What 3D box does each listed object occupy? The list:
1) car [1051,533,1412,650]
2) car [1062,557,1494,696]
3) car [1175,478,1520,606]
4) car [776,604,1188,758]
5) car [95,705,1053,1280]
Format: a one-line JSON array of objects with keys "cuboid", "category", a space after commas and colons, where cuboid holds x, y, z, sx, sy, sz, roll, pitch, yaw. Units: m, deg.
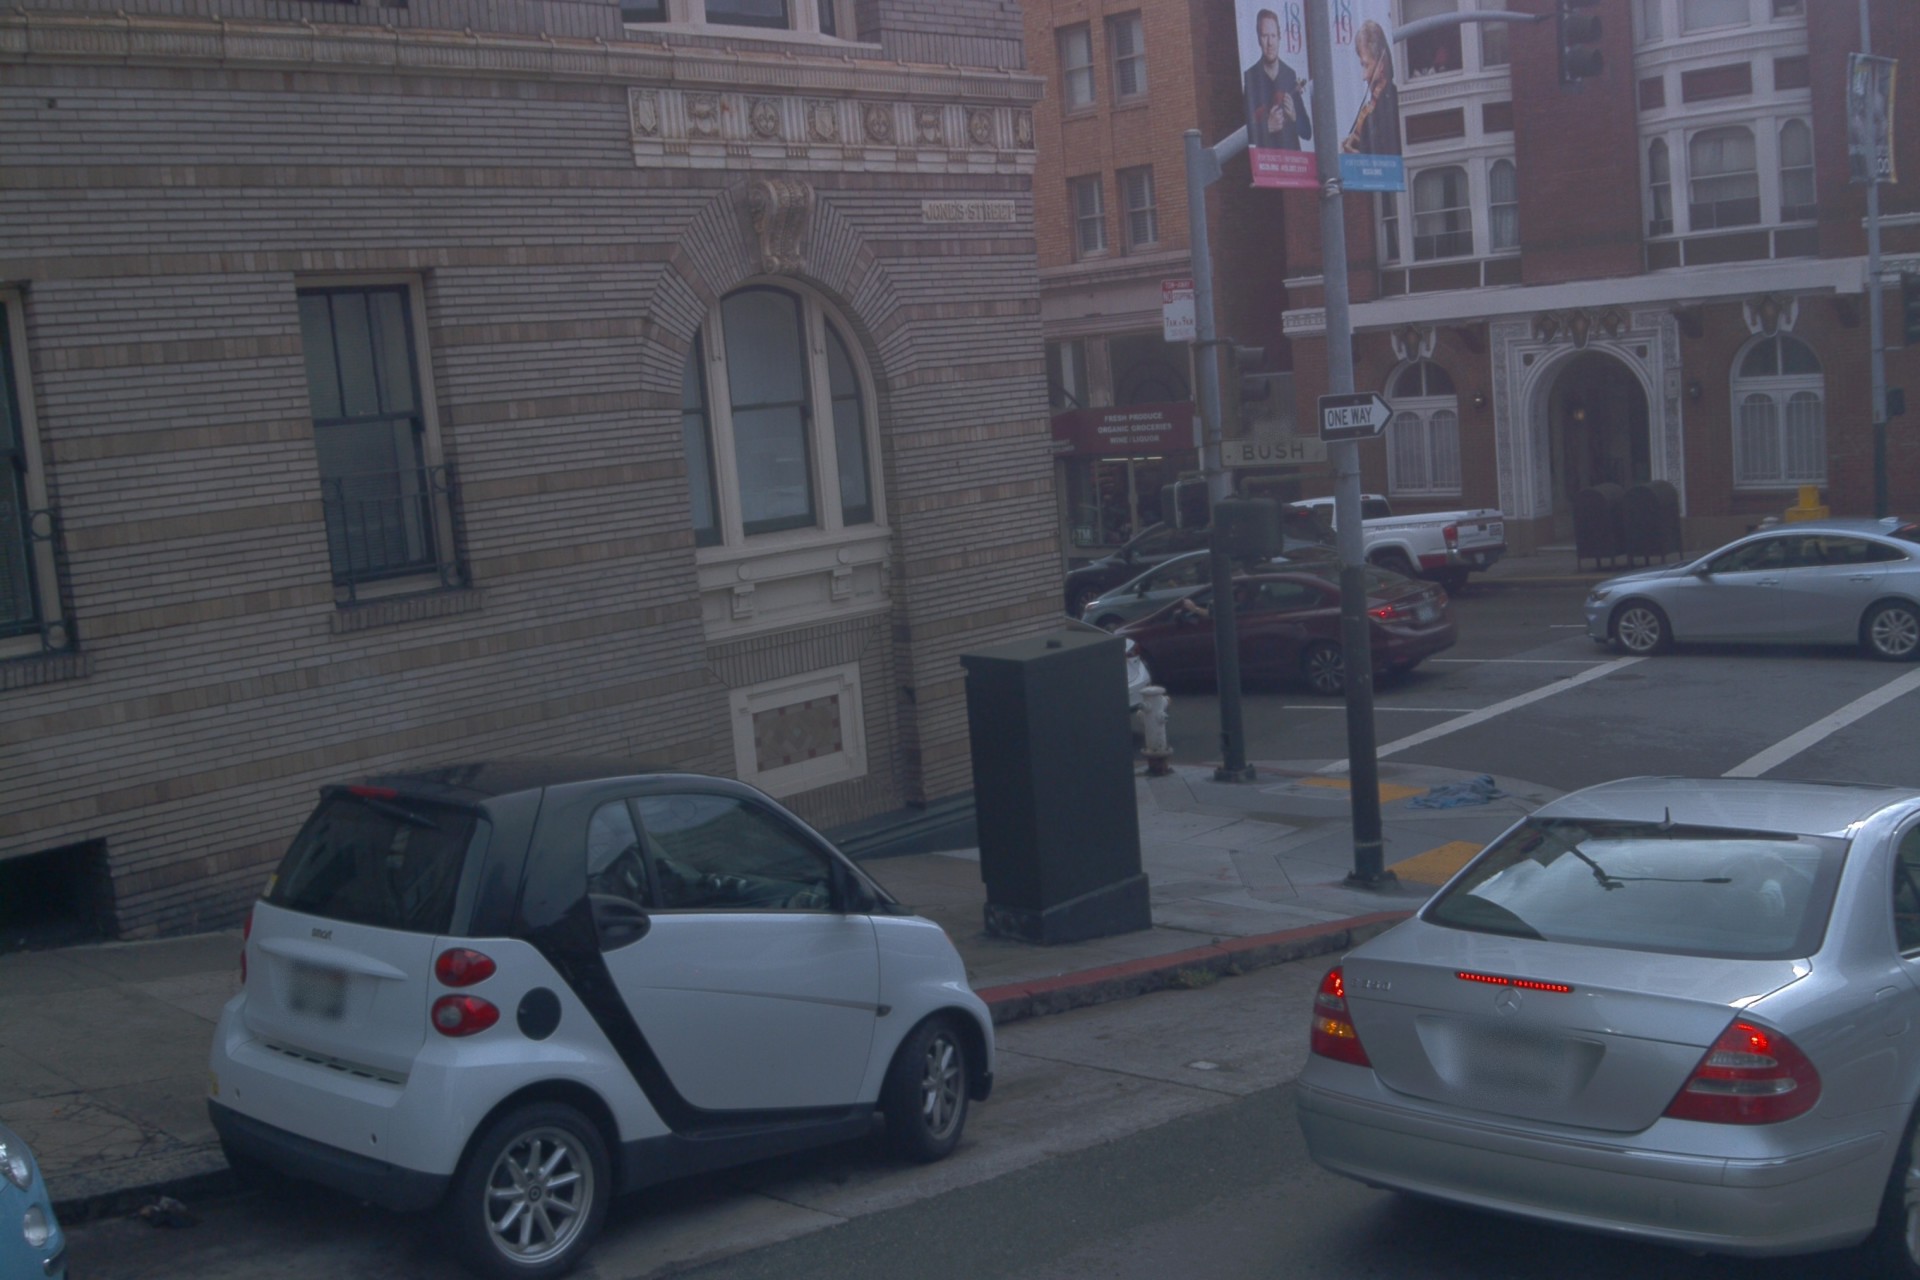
[{"cuboid": [3.617, -0.661, 27.768, 4.500, 1.470, 2.058, 2, 1, 44], "category": "car"}, {"cuboid": [3.666, -0.206, 24.026, 4.617, 1.480, 2.037, 2, 1, 40], "category": "car"}, {"cuboid": [6.363, -1.589, 33.988, 5.308, 1.950, 2.112, 2, 1, 43], "category": "car"}, {"cuboid": [0.172, 0.387, 22.646, 4.290, 1.490, 2.048, 2, 1, 43], "category": "car"}, {"cuboid": [-1.264, 1.178, 7.268, 1.772, 1.740, 2.841, 2, 1, 41], "category": "car"}]
